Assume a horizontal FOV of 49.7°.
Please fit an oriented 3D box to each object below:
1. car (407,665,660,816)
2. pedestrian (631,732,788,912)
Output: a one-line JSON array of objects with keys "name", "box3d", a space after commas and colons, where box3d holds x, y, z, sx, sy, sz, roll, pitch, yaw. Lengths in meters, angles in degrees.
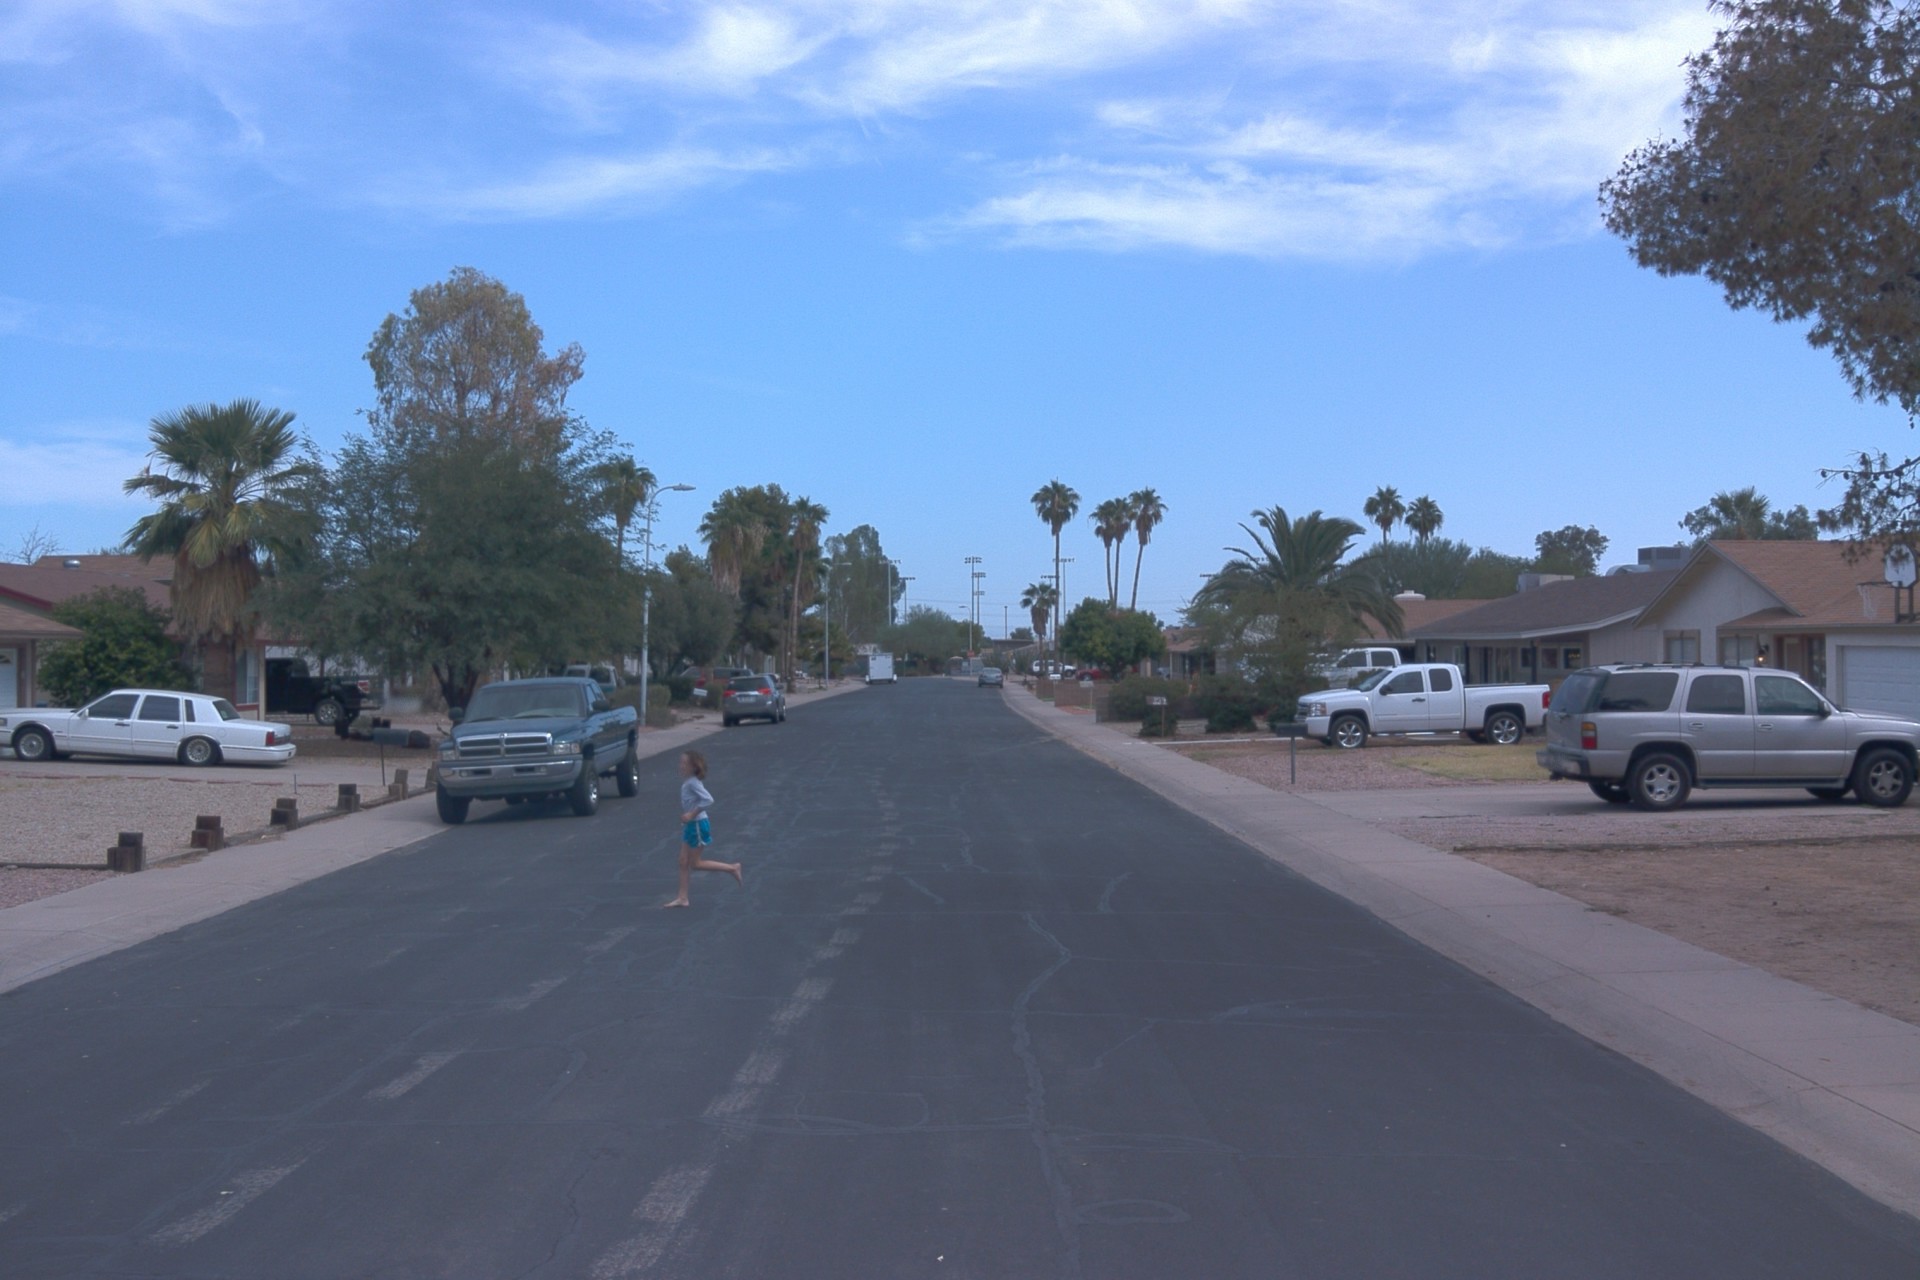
[{"name": "car", "box3d": [-6.168, 1.384, 30.876, 2.461, 1.980, 6.208, 0, -1, 0]}, {"name": "pedestrian", "box3d": [-2.120, 1.509, 17.461, 1.130, 1.420, 0.948, 1, 0, -18]}]
